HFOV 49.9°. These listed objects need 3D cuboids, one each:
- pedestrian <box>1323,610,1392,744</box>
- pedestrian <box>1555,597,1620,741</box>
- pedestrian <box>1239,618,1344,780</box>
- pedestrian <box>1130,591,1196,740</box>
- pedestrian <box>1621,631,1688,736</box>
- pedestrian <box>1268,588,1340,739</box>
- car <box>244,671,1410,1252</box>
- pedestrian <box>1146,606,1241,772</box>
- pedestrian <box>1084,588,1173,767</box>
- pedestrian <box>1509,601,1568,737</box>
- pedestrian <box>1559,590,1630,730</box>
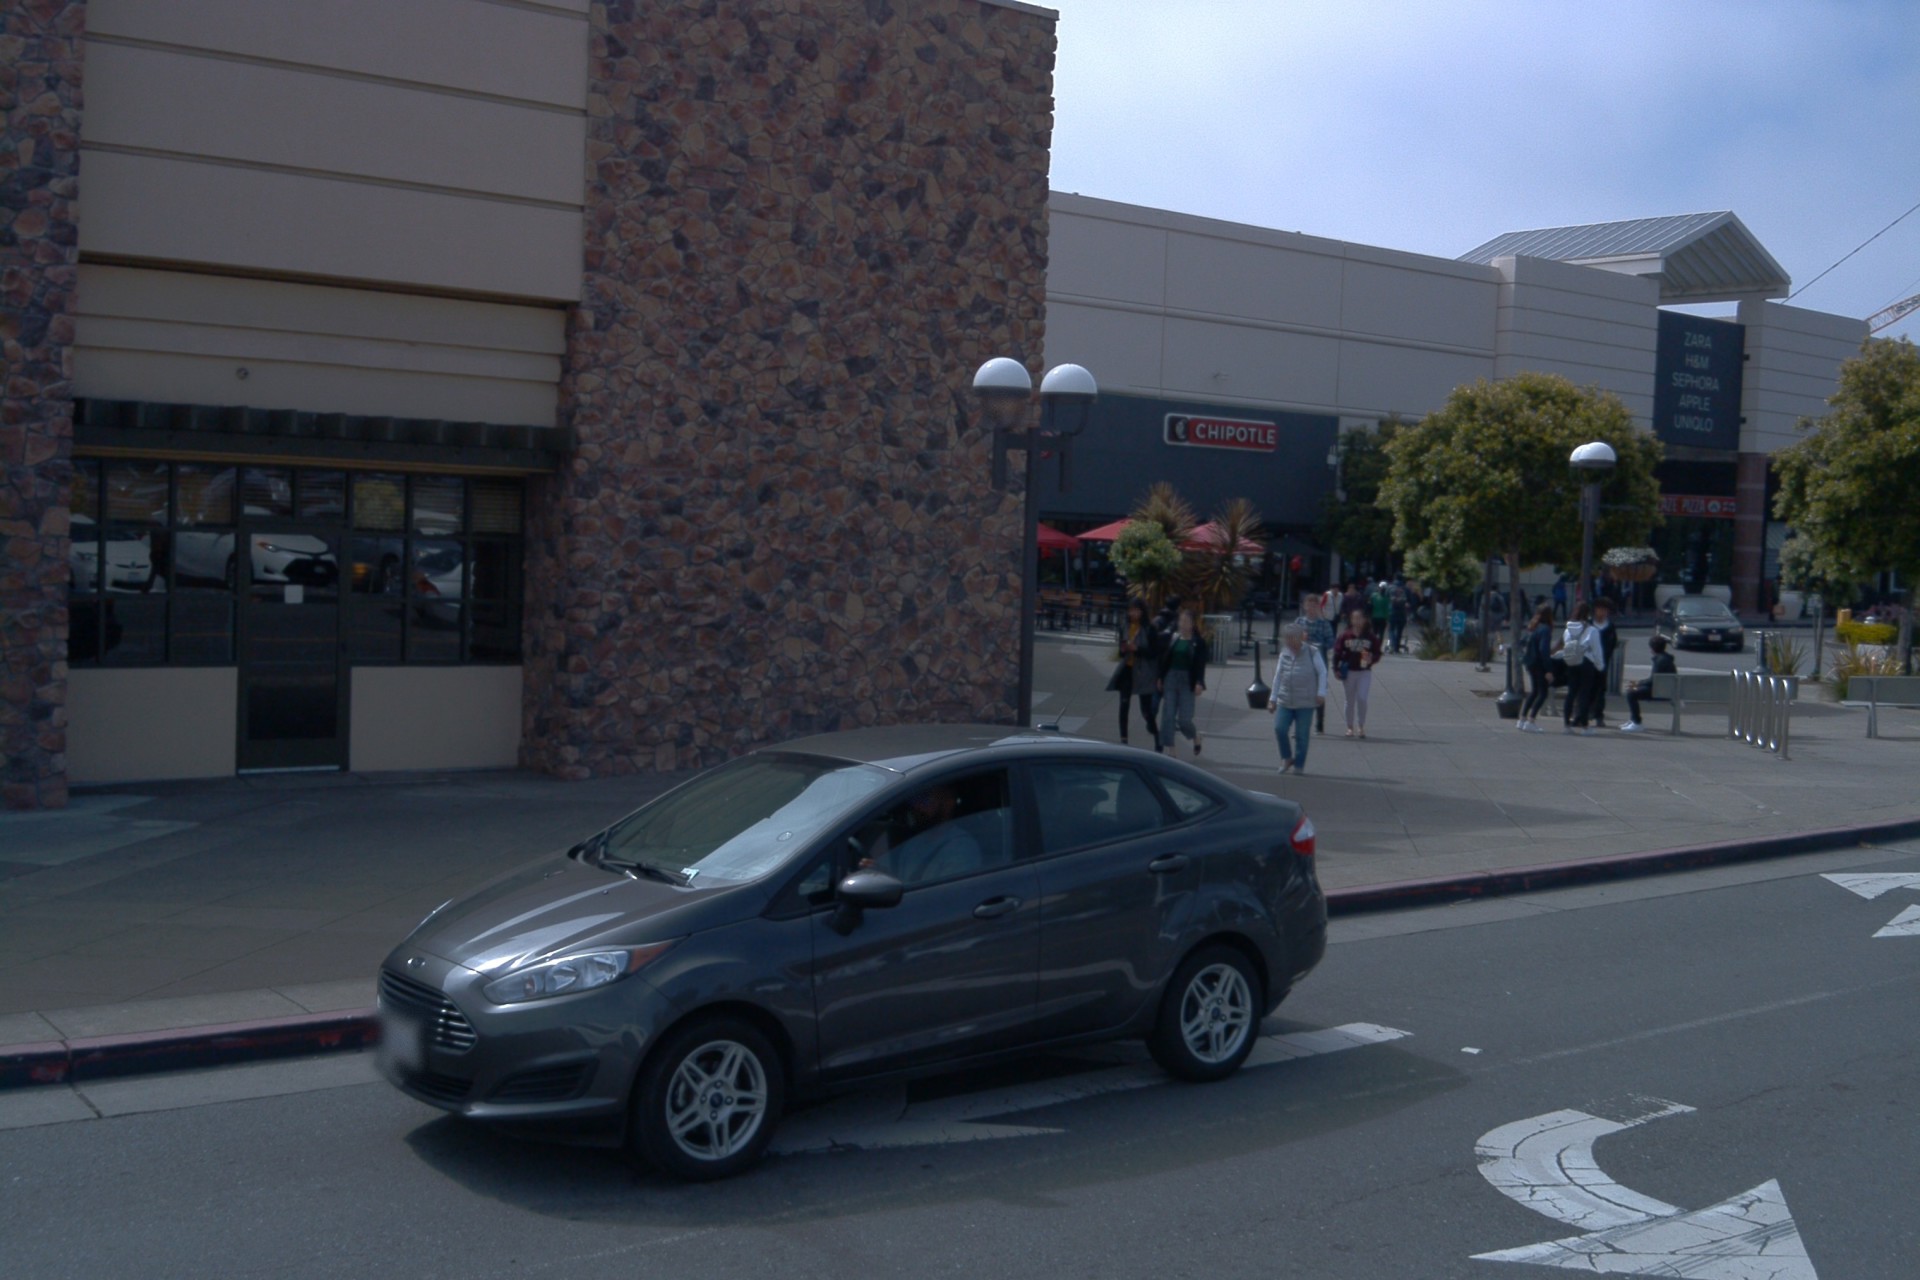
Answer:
[{"bbox_3d":[4.828,0.431,25.059,0.733,1.600,0.768,0,1,18],"label":"pedestrian"},{"bbox_3d":[7.918,0.356,26.058,0.748,1.780,0.771,0,1,14],"label":"pedestrian"},{"bbox_3d":[3.268,0.561,20.312,0.770,1.550,0.898,0,1,28],"label":"pedestrian"},{"bbox_3d":[2.482,0.302,25.173,0.625,1.780,0.897,0,1,18],"label":"pedestrian"},{"bbox_3d":[8.835,0.547,26.279,0.734,1.320,0.526,0,1,10],"label":"pedestrian"},{"bbox_3d":[4.174,0.276,25.034,0.733,1.800,0.768,0,1,20],"label":"pedestrian"},{"bbox_3d":[-0.354,1.010,8.409,4.444,1.640,1.922,-1,1,-39],"label":"car"},{"bbox_3d":[2.435,0.490,21.489,0.697,1.680,0.800,0,1,32],"label":"pedestrian"},{"bbox_3d":[1.773,0.380,21.691,0.678,1.840,0.692,0,1,33],"label":"pedestrian"},{"bbox_3d":[7.389,0.358,26.356,0.580,1.720,0.587,0,1,32],"label":"pedestrian"},{"bbox_3d":[8.341,0.259,27.150,0.776,1.820,0.687,0,1,6],"label":"pedestrian"}]
